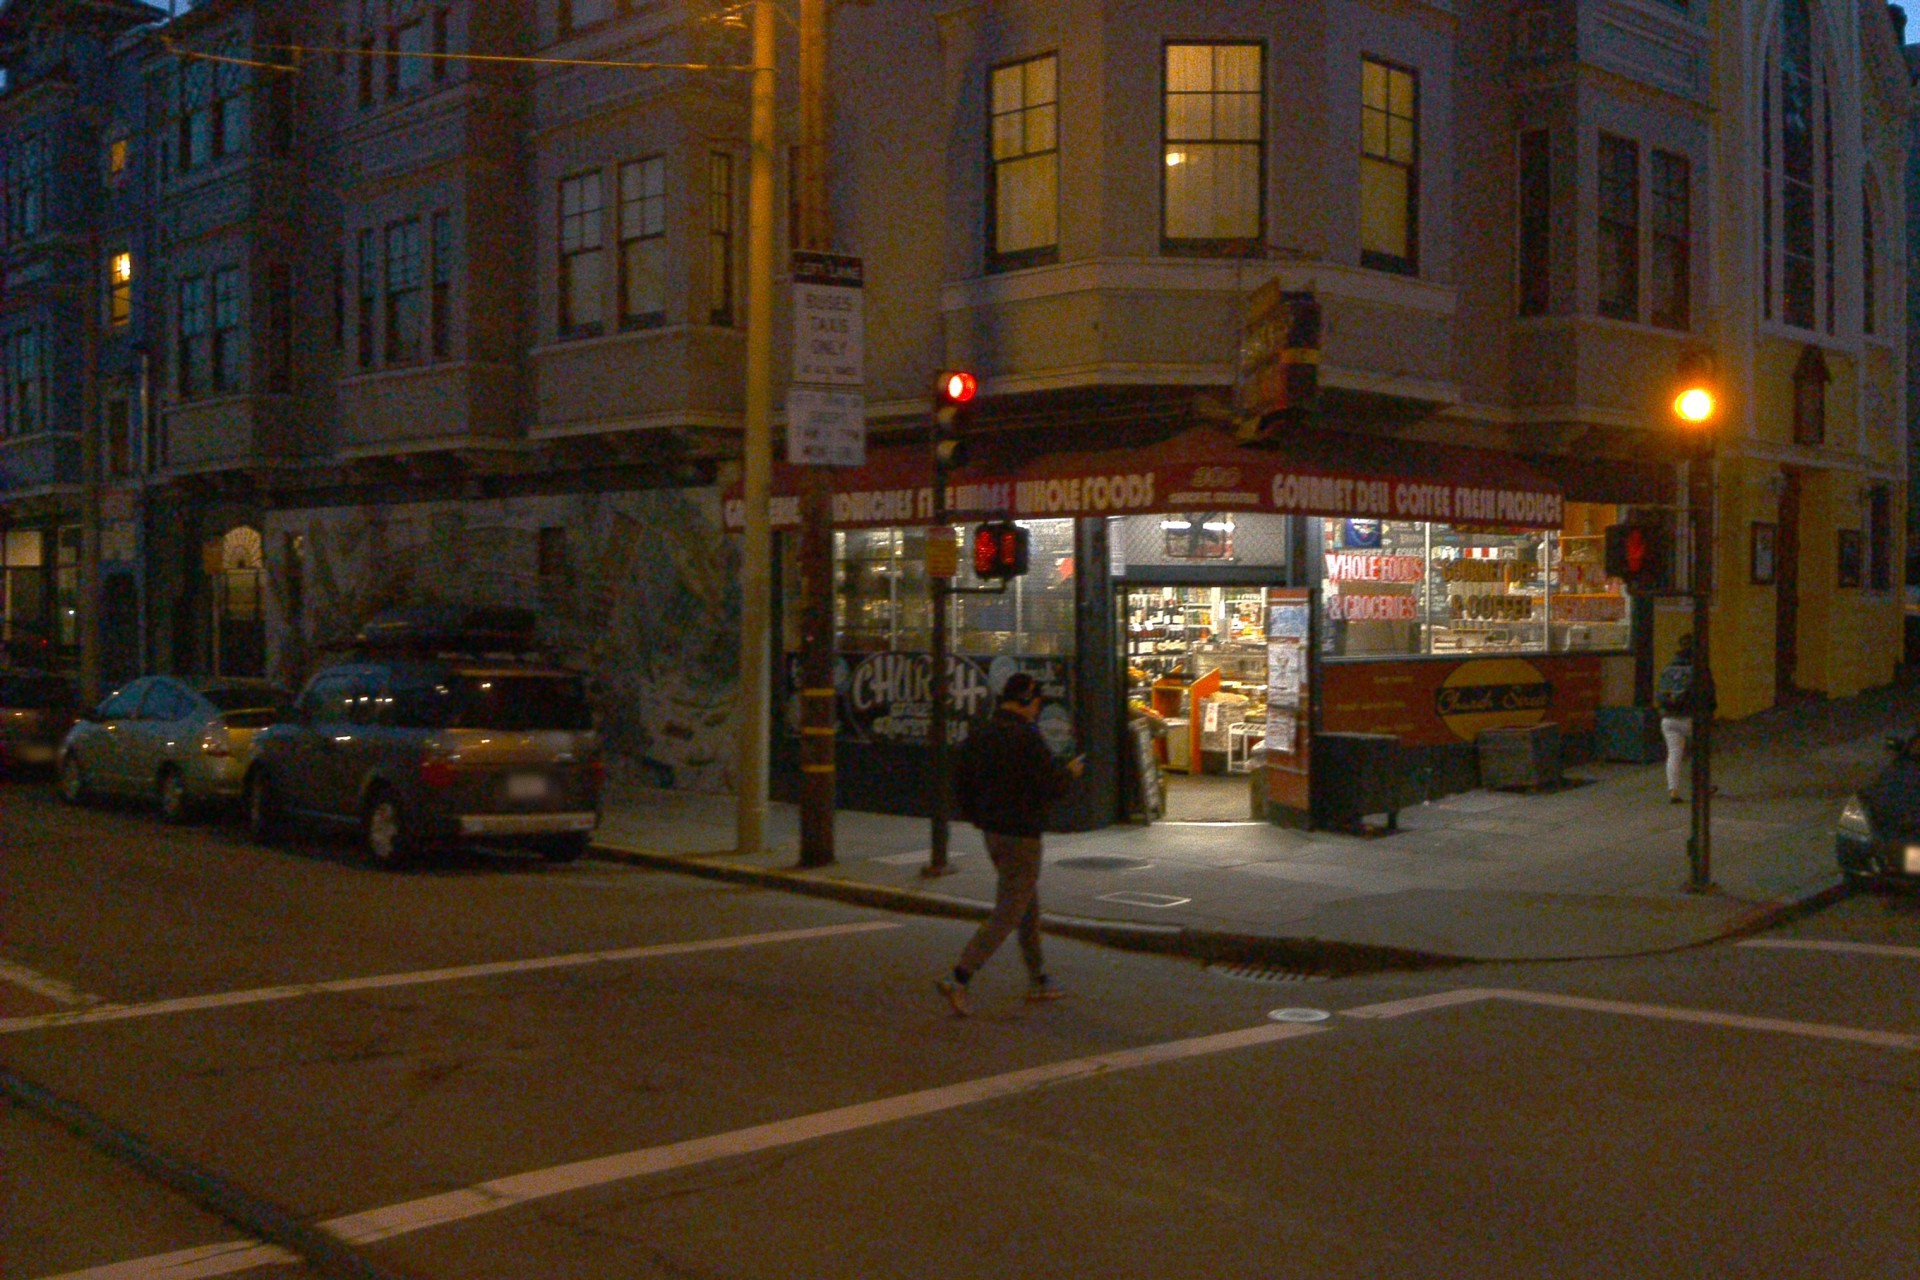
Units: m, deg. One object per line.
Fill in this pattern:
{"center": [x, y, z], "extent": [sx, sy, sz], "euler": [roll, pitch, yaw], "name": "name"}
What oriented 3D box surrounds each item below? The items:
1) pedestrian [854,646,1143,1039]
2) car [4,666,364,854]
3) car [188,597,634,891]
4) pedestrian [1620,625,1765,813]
{"center": [0.216, 1.015, 11.061], "extent": [1.275, 1.930, 0.905], "euler": [-1, 1, -43], "name": "pedestrian"}
{"center": [-8.240, 1.158, 21.694], "extent": [1.960, 1.640, 4.426], "euler": [-1, 1, -44], "name": "car"}
{"center": [-4.940, 0.761, 18.195], "extent": [2.036, 2.260, 4.341], "euler": [-1, 1, -42], "name": "car"}
{"center": [6.643, 0.690, 18.733], "extent": [0.892, 1.640, 0.918], "euler": [-1, 1, -42], "name": "pedestrian"}
